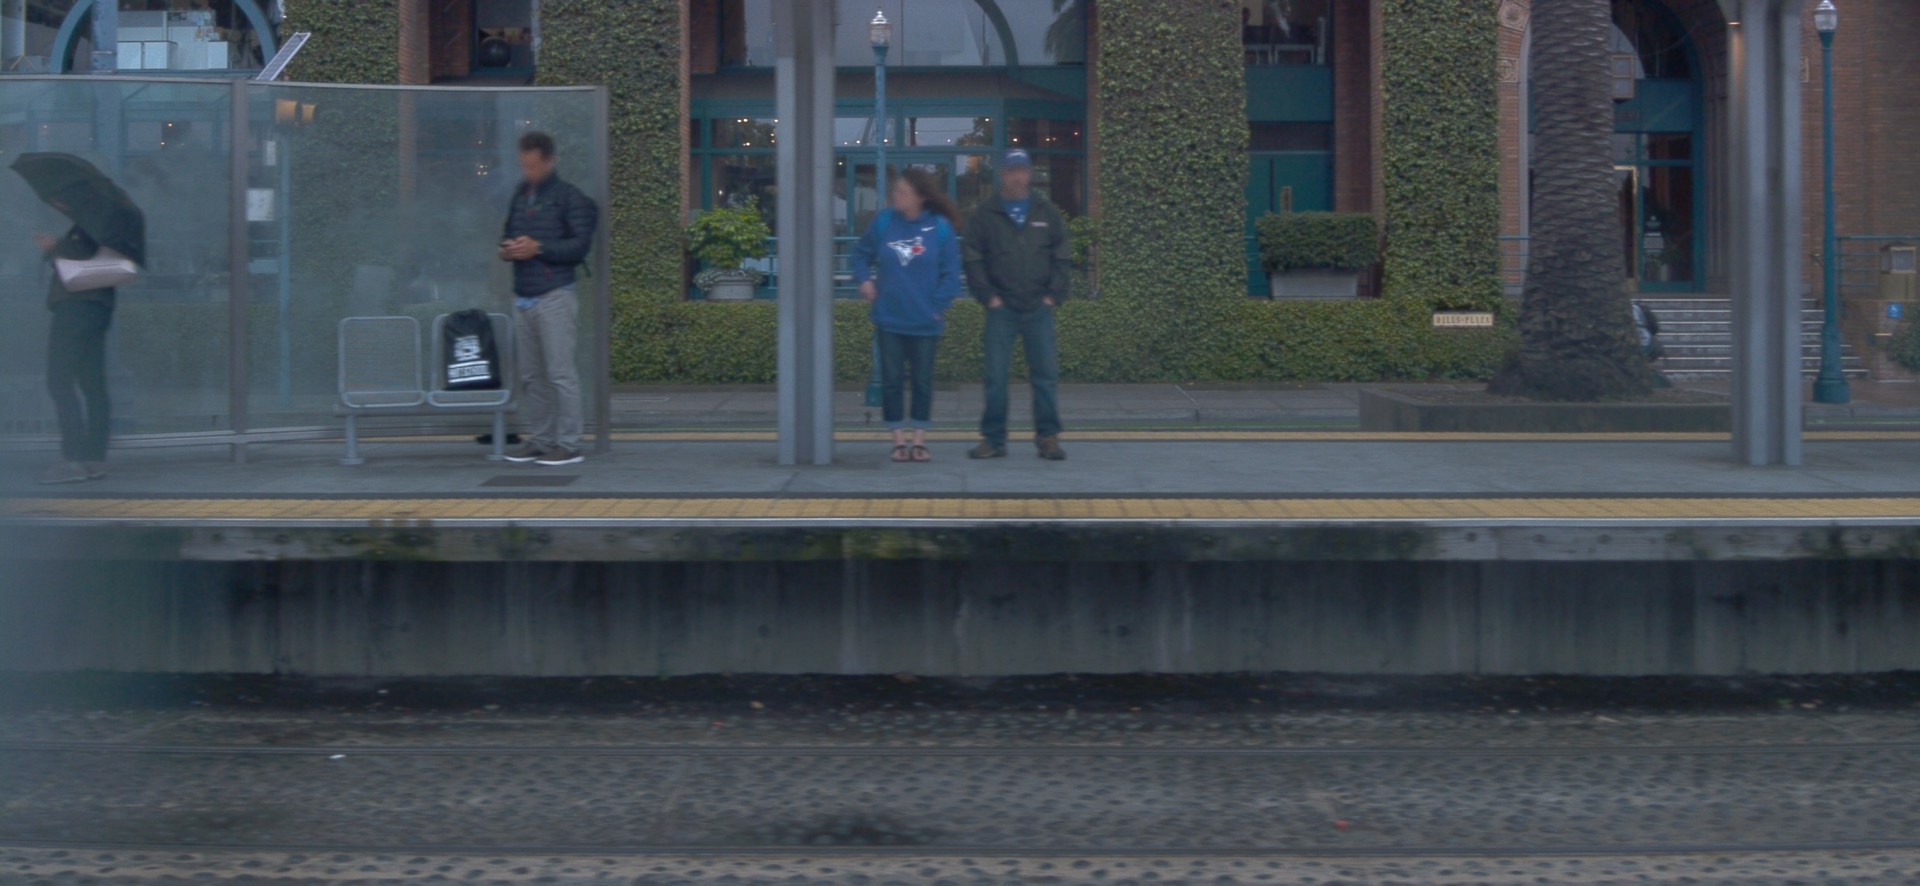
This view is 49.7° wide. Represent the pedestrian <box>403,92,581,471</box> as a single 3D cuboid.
[{"bbox_3d":[-2.578,-0.903,11.456,0.624,2.008,0.721,1,1,38],"label":"pedestrian"}]

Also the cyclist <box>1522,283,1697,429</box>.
[{"bbox_3d":[8.634,-1.175,27.639,2.050,1.870,0.888,0,1,1],"label":"cyclist"}]

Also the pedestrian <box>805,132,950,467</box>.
[{"bbox_3d":[-0.458,-0.811,11.545,0.776,1.810,0.705,0,1,-2],"label":"pedestrian"}]

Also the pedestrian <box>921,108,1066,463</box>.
[{"bbox_3d":[0.175,-0.894,11.656,0.776,1.930,0.705,0,1,-2],"label":"pedestrian"}]

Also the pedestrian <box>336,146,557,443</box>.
[{"bbox_3d":[-3.102,-0.922,12.657,1.098,1.729,1.109,0,2,-2],"label":"pedestrian"}]
